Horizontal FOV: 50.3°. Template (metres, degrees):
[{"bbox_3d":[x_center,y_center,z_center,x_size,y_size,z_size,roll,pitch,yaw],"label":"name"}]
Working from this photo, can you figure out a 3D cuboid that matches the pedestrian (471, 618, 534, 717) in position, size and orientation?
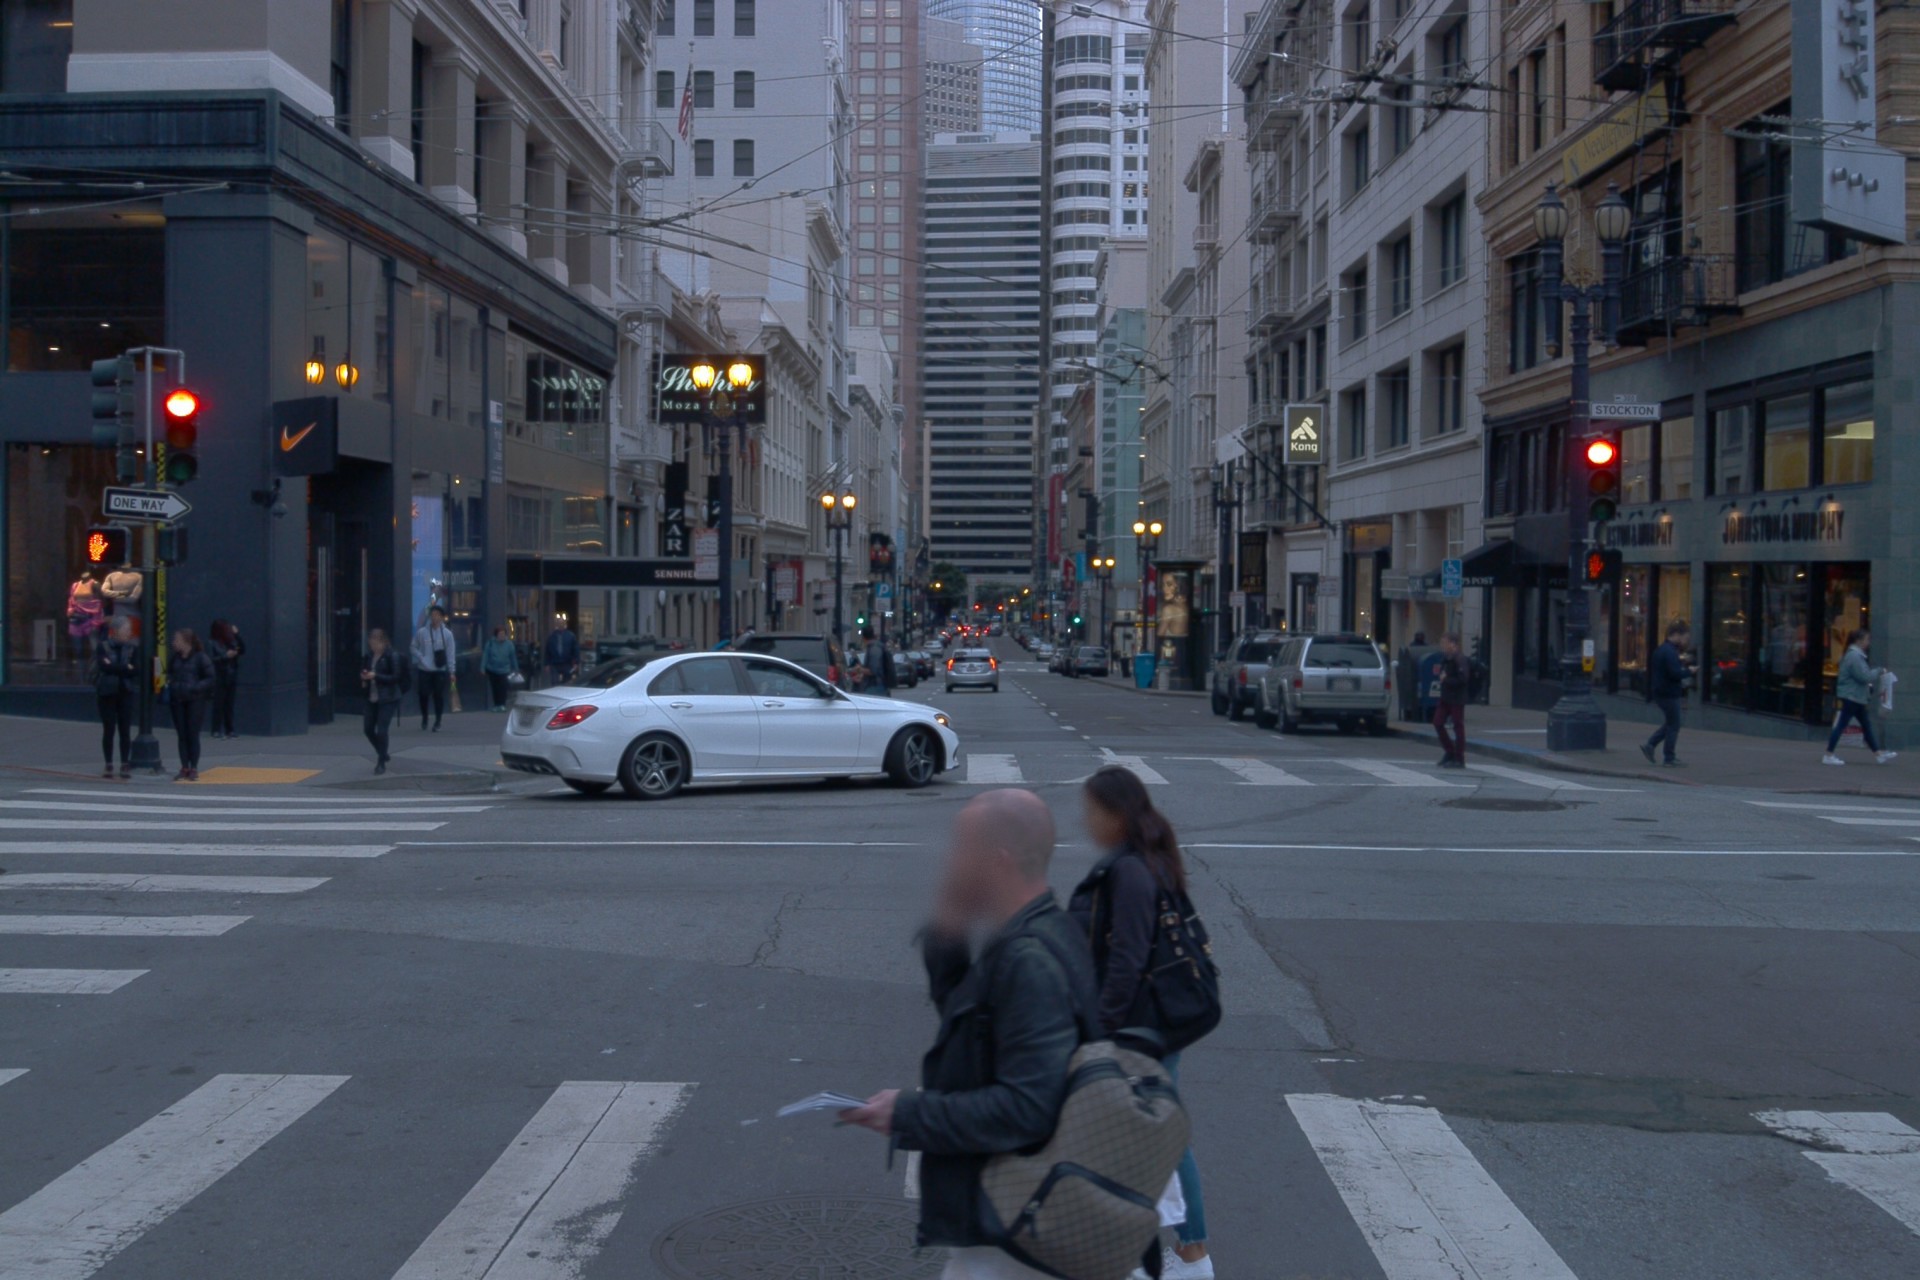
[{"bbox_3d":[-8.181,0.480,36.596,1.000,1.740,1.001,0,1,-6],"label":"pedestrian"}]

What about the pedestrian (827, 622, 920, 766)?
[{"bbox_3d":[-1.082,0.647,25.374,1.123,1.750,1.075,0,1,-3],"label":"pedestrian"}]

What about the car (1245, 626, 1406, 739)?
[{"bbox_3d":[6.359,0.695,36.049,1.952,1.860,4.298,0,1,-1],"label":"car"}]

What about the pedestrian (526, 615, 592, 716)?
[{"bbox_3d":[-7.321,0.462,37.389,1.000,1.820,1.000,0,1,0],"label":"pedestrian"}]

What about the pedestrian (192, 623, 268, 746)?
[{"bbox_3d":[-9.035,0.539,25.338,0.686,1.500,0.639,0,1,3],"label":"pedestrian"}]

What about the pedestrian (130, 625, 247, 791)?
[{"bbox_3d":[-8.173,0.701,21.704,0.954,1.710,1.071,0,1,-8],"label":"pedestrian"}]

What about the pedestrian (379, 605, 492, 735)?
[{"bbox_3d":[-7.364,0.402,28.690,1.303,1.773,1.285,0,1,-26],"label":"pedestrian"}]

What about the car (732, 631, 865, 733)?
[{"bbox_3d":[-2.828,0.696,36.778,1.946,1.699,4.331,0,1,2],"label":"car"}]

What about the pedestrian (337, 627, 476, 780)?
[{"bbox_3d":[-6.096,0.669,22.539,0.976,1.630,1.119,1,1,41],"label":"pedestrian"}]

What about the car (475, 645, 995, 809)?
[{"bbox_3d":[-2.228,0.793,20.719,4.810,1.440,2.089,0,1,-32],"label":"car"}]

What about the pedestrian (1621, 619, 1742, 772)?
[{"bbox_3d":[8.415,0.630,23.911,1.111,1.760,0.953,0,1,4],"label":"pedestrian"}]

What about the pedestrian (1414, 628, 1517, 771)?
[{"bbox_3d":[6.077,0.700,24.604,1.000,1.680,0.673,0,1,-11],"label":"pedestrian"}]

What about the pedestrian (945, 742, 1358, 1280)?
[{"bbox_3d":[0.604,1.162,6.055,1.101,1.640,1.170,0,1,10],"label":"pedestrian"}]

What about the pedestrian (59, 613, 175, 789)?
[{"bbox_3d":[-8.865,0.622,21.555,0.897,1.800,1.086,0,1,-8],"label":"pedestrian"}]

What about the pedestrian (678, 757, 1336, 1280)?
[{"bbox_3d":[0.144,1.172,3.923,1.126,1.820,0.927,0,1,10],"label":"pedestrian"}]
